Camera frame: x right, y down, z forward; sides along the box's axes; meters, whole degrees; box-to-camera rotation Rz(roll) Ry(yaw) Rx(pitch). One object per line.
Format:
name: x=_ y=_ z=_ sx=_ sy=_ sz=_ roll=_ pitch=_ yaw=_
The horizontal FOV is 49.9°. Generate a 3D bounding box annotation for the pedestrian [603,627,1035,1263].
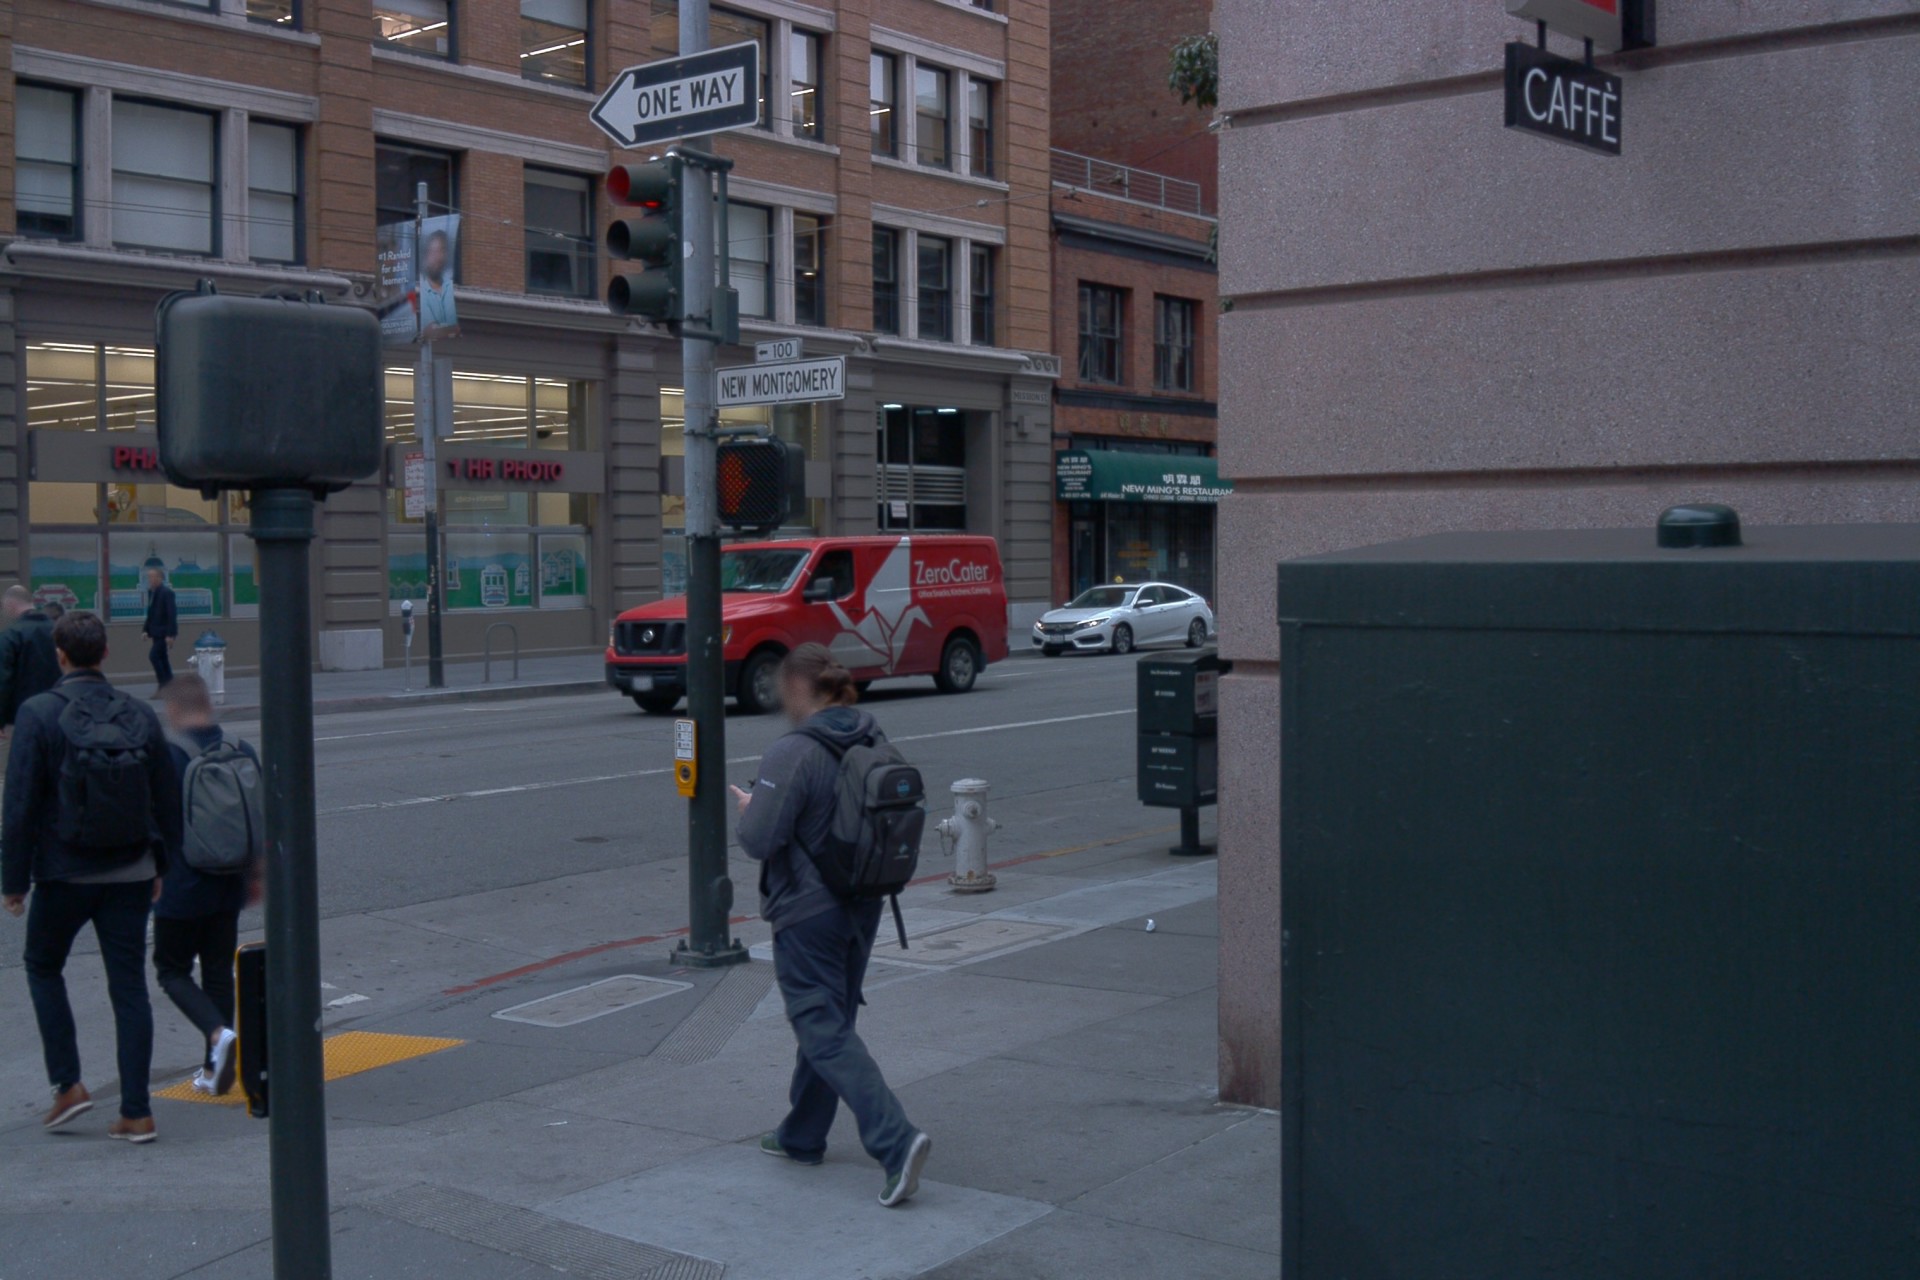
pedestrian: x=-0.457 y=0.862 z=6.533 sx=1.155 sy=1.800 sz=0.781 roll=1 pitch=1 yaw=43

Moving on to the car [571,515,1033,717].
car: x=-1.807 y=-0.294 z=26.063 sx=2.356 sy=2.240 sz=6.072 roll=0 pitch=1 yaw=38

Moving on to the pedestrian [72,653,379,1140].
pedestrian: x=-3.006 y=0.977 z=8.452 sx=0.948 sy=1.830 sz=0.811 roll=1 pitch=1 yaw=41

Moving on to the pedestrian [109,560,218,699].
pedestrian: x=-11.100 y=-0.149 z=28.797 sx=0.862 sy=1.890 sz=1.121 roll=0 pitch=1 yaw=38
